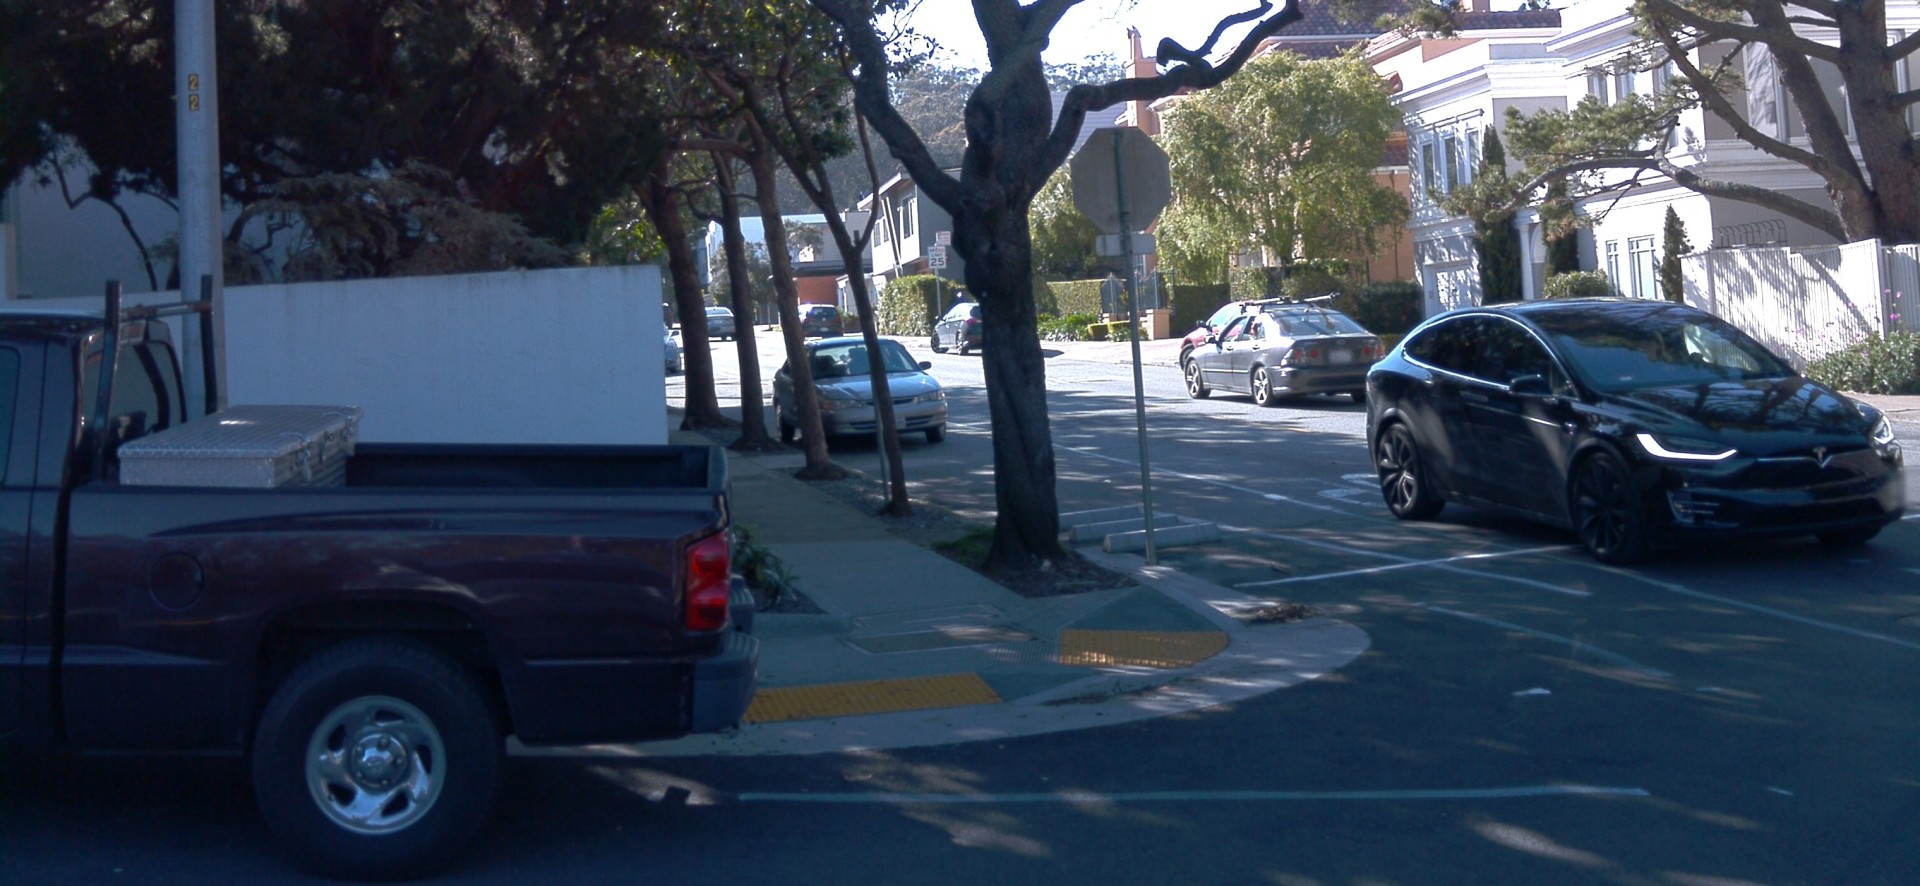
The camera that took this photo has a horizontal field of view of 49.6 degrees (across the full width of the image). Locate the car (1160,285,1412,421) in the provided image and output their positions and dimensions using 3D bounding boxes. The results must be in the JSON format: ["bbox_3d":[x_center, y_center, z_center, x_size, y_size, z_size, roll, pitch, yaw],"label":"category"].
[{"bbox_3d":[4.692,-1.407,30.607,2.058,1.661,4.483,0,6,-15],"label":"car"}]

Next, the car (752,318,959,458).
[{"bbox_3d":[-1.433,-0.785,26.795,1.871,1.433,4.058,0,6,-15],"label":"car"}]
